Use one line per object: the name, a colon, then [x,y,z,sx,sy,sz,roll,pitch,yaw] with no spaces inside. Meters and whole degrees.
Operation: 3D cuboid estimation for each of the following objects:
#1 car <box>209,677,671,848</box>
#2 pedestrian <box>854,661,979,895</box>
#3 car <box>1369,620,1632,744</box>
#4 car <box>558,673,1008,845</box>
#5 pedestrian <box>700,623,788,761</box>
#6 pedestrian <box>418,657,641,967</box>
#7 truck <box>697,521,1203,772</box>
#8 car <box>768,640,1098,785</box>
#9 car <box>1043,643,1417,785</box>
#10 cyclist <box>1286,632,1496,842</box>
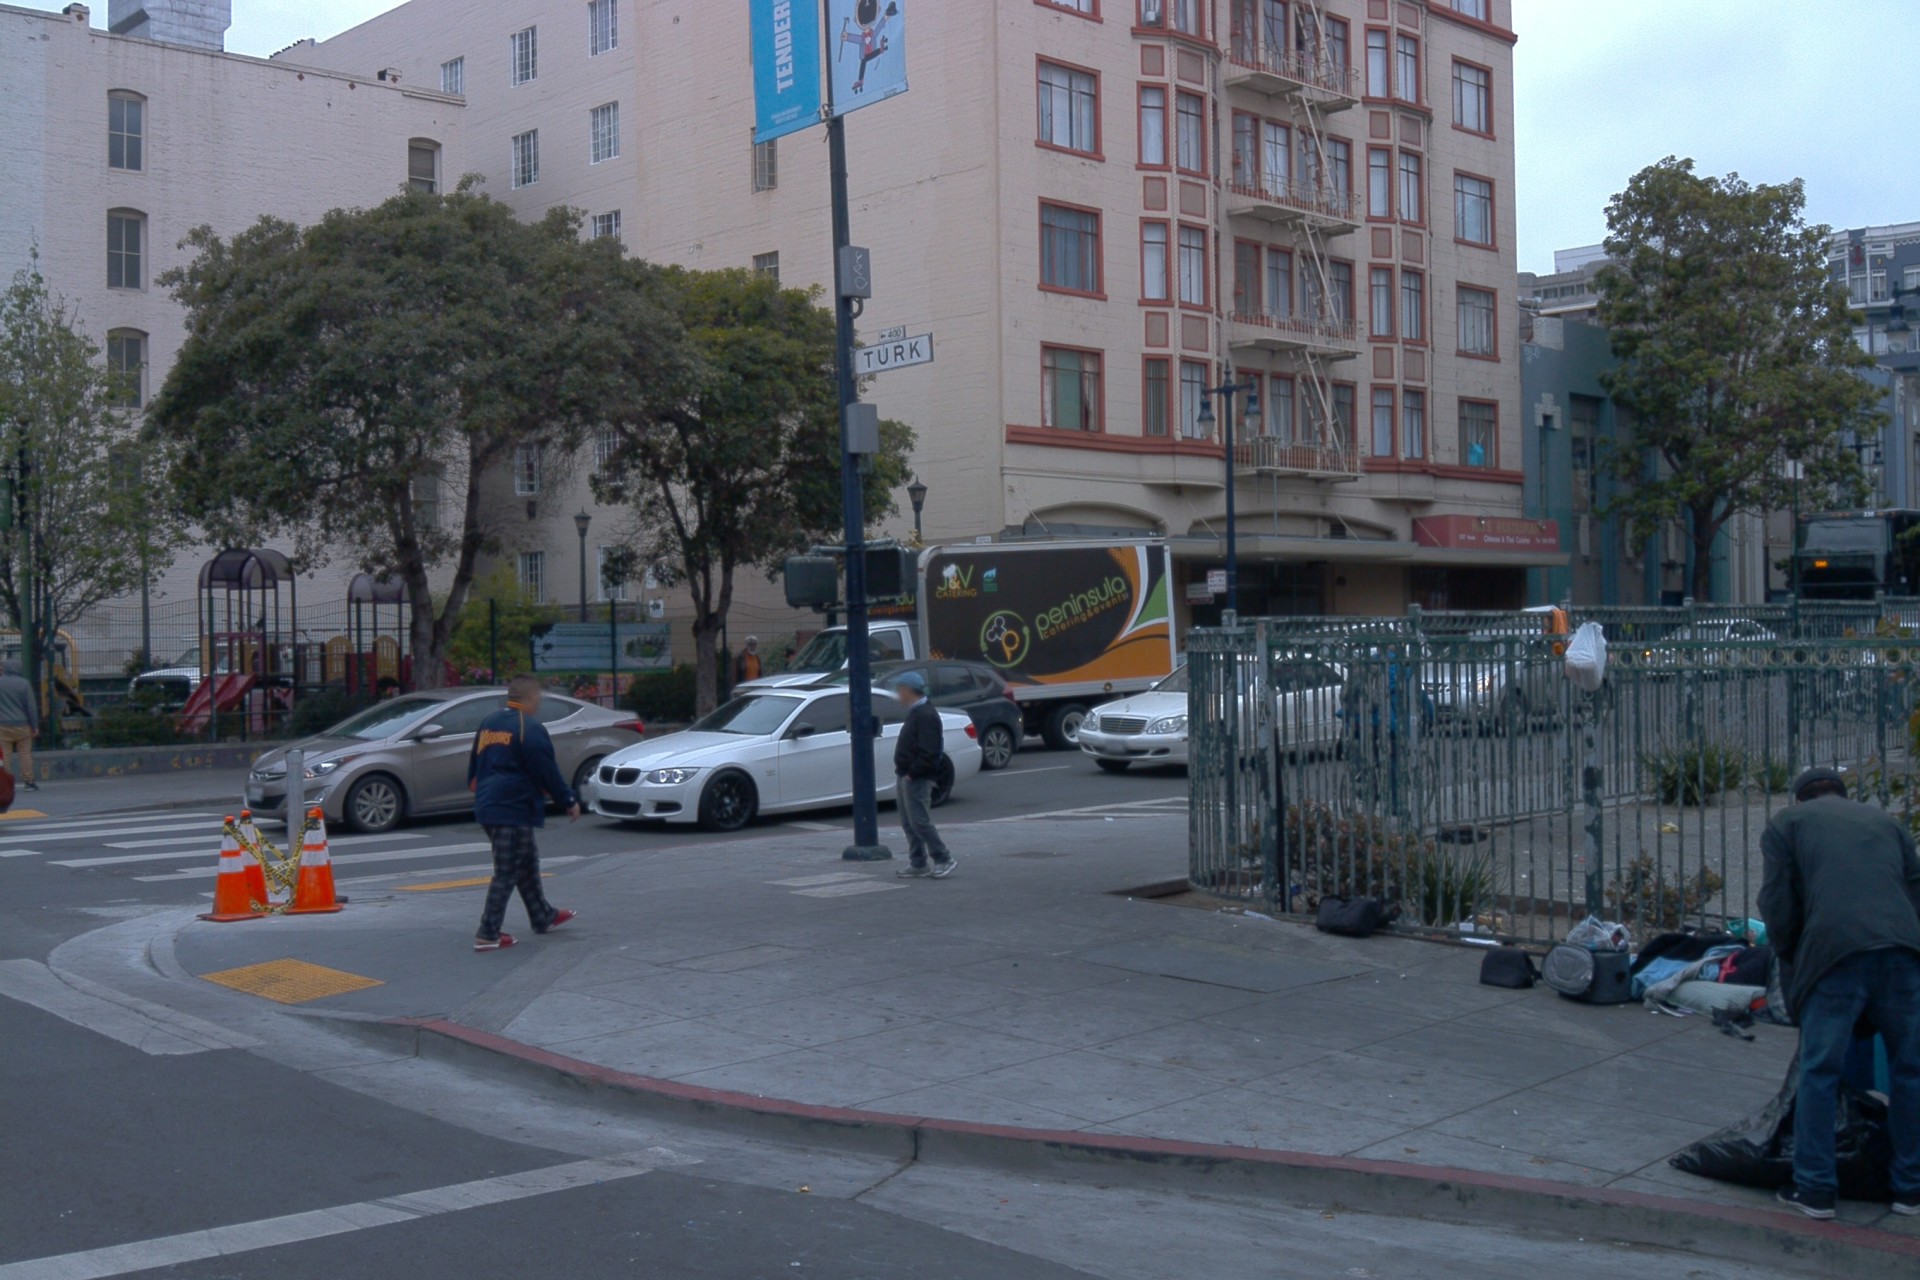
car: [-5.532,1.233,22.360,4.454,1.540,1.957,-1,1,-44]
pedestrian: [-0.332,1.003,15.381,0.796,1.670,0.778,0,1,-12]
car: [8.557,0.601,32.498,4.436,1.810,2.035,-1,1,-45]
car: [-1.783,1.169,21.969,4.584,1.520,1.930,-1,1,-44]
pedestrian: [-3.518,0.820,33.559,1.047,2.200,1.032,-1,1,-35]
pedestrian: [-2.677,1.017,12.842,1.028,1.800,0.913,-1,1,-43]
truck: [-0.084,0.059,31.151,7.107,3.420,2.934,0,1,-31]
car: [-0.291,0.889,27.474,4.317,1.730,1.853,-1,1,-45]
car: [3.619,0.882,27.041,5.013,1.630,2.224,-1,1,-44]
cyclist: [3.857,0.812,18.387,1.014,1.750,1.949,1,1,40]
